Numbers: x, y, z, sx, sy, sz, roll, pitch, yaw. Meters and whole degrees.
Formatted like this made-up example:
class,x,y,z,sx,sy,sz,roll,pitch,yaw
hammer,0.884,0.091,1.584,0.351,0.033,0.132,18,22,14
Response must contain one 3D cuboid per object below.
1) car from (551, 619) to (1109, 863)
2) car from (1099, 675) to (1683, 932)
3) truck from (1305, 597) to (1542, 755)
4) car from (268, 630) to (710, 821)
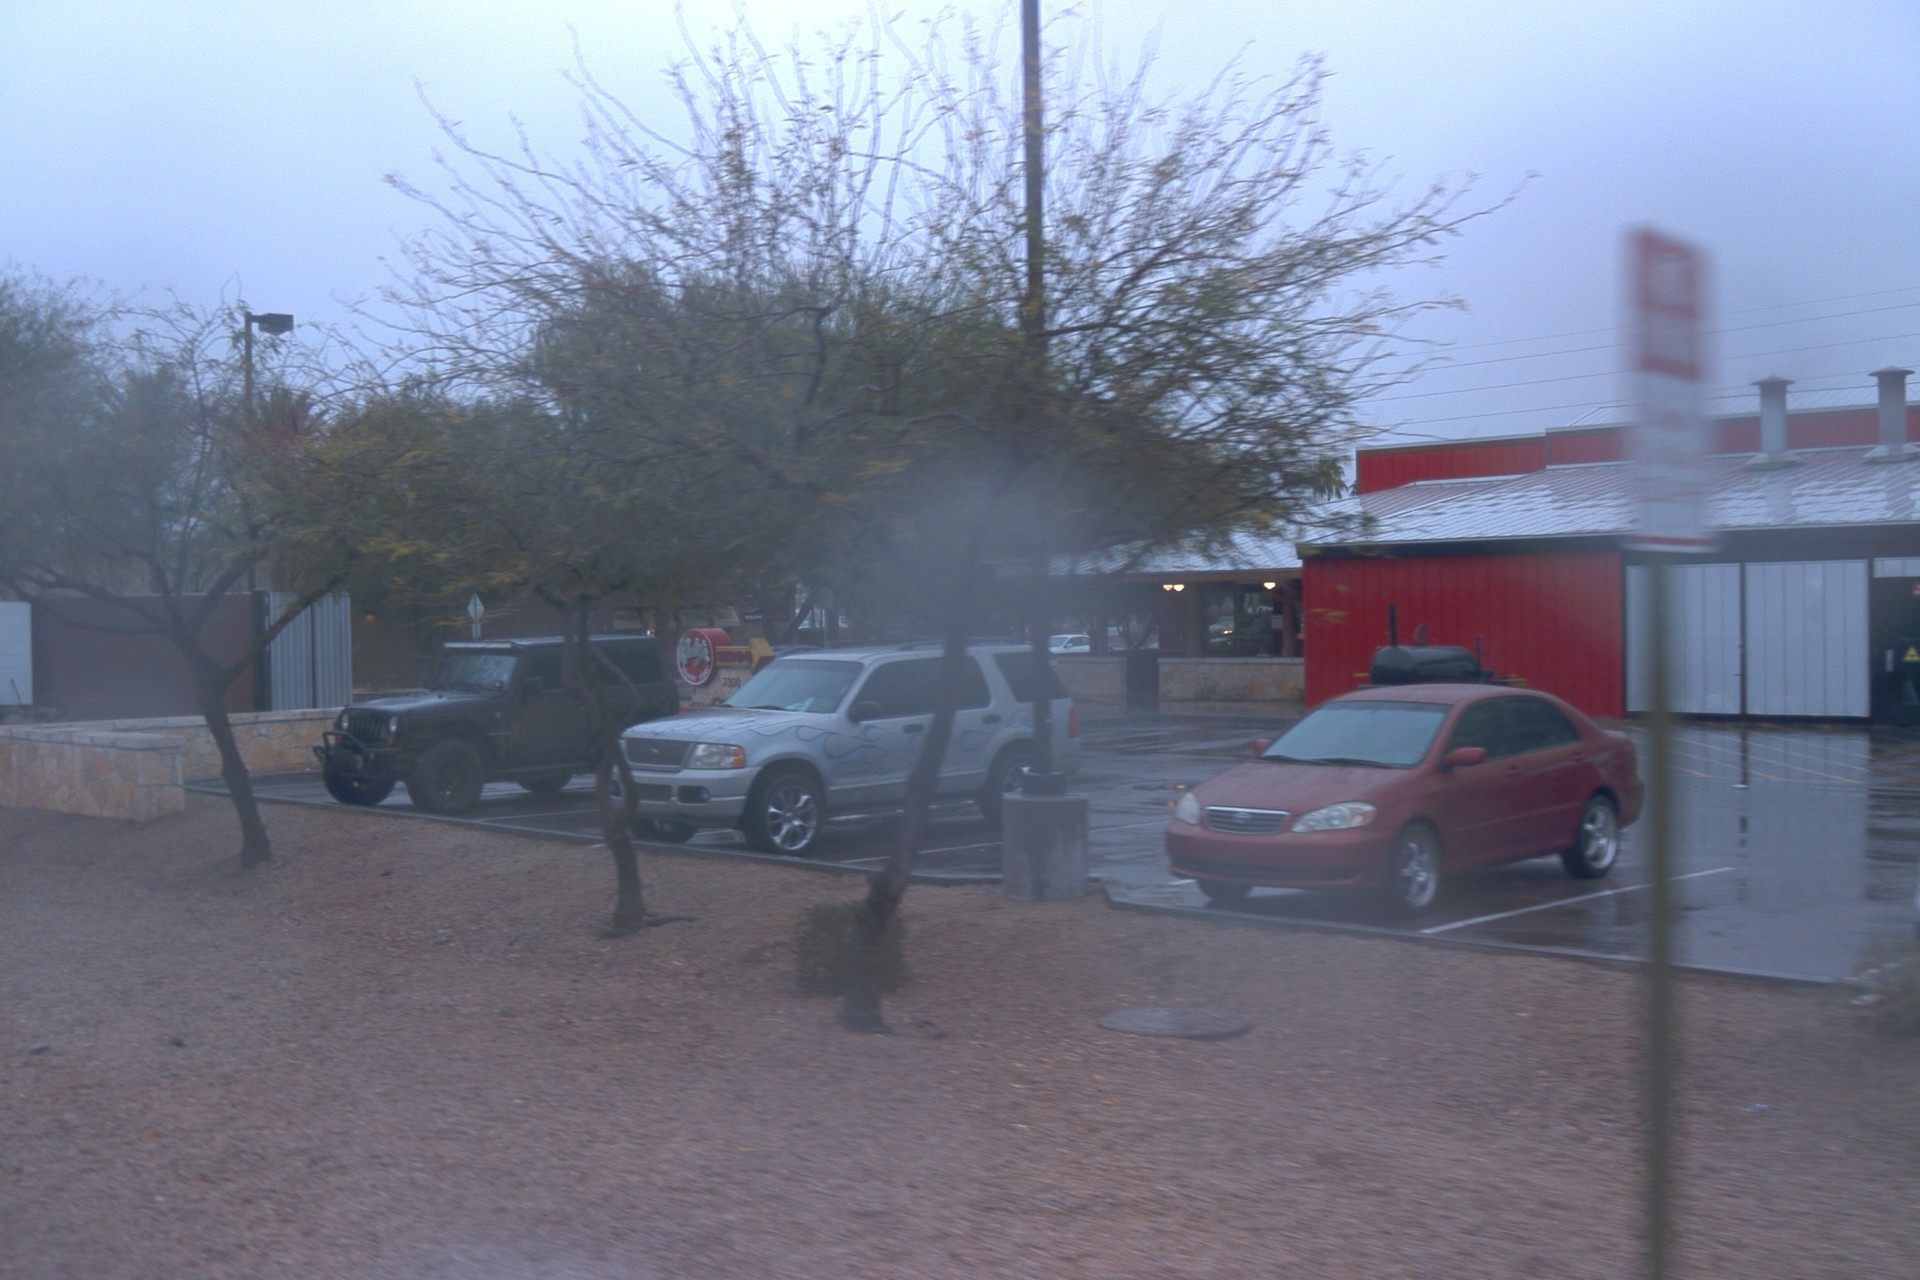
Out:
class,x,y,z,sx,sy,sz,roll,pitch,yaw
car,-1.072,0.833,19.162,2.244,1.950,4.850,0,-1,45
car,3.268,1.048,15.189,2.049,1.560,4.510,0,-1,45
truck,6.828,0.518,30.470,1.721,2.160,3.931,0,0,41
car,-5.105,0.874,22.970,2.152,1.890,4.296,0,-1,43
